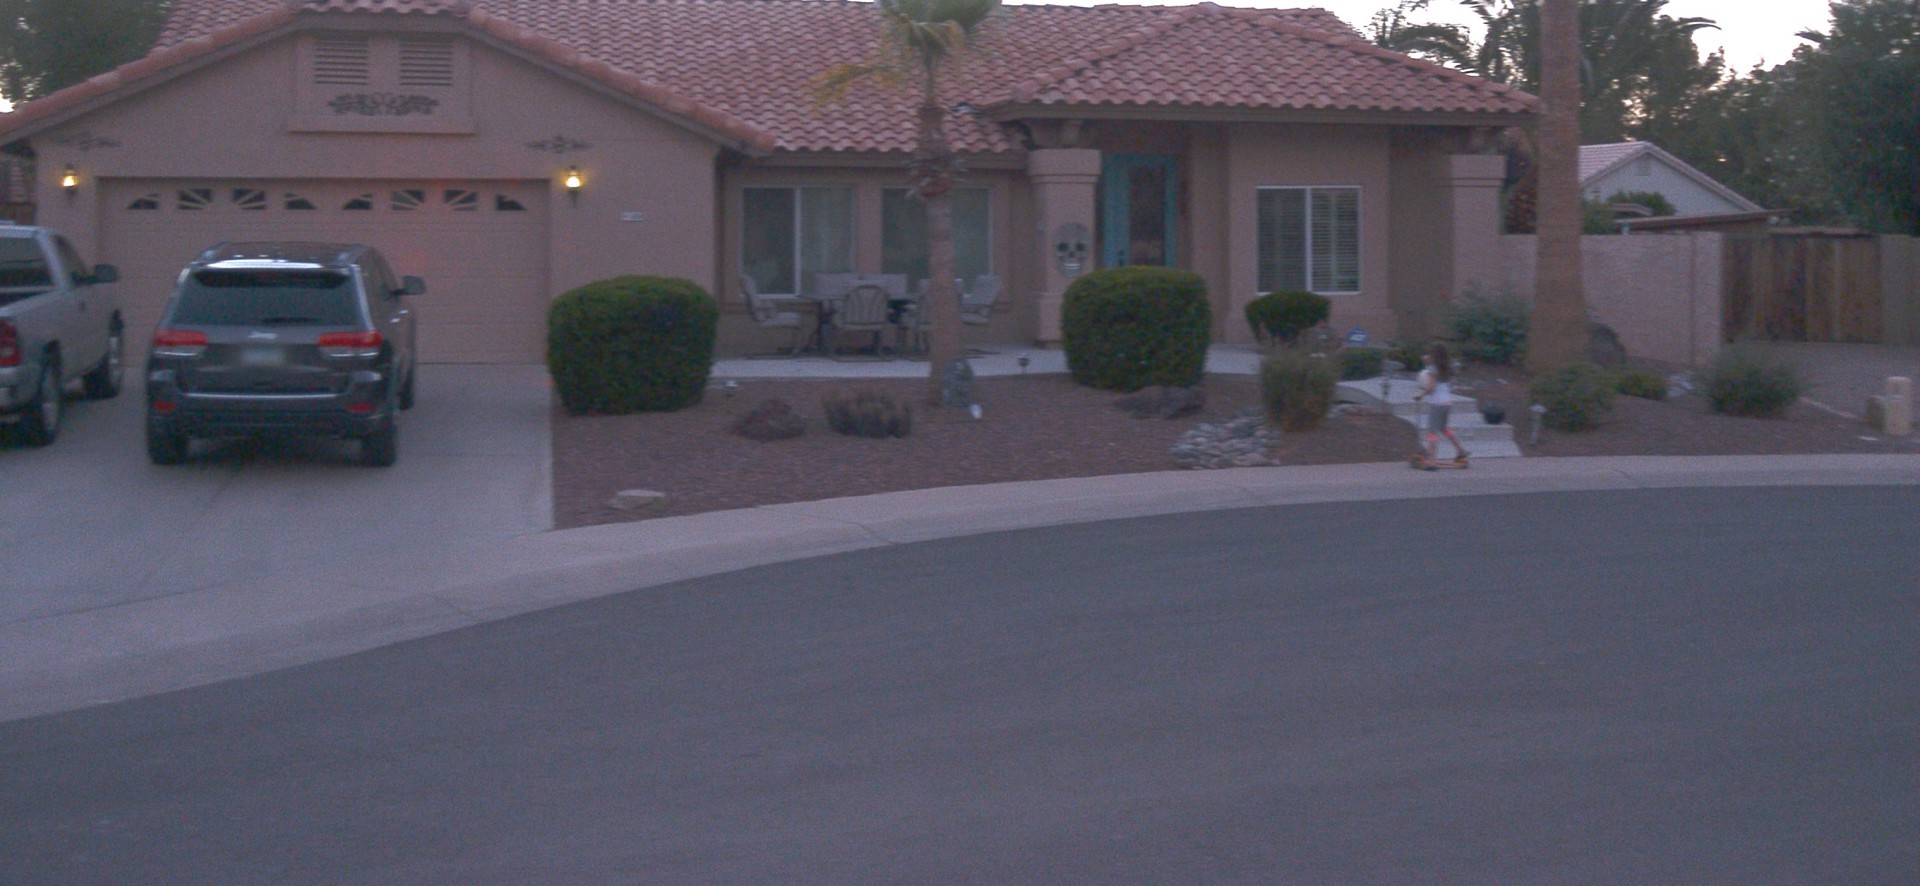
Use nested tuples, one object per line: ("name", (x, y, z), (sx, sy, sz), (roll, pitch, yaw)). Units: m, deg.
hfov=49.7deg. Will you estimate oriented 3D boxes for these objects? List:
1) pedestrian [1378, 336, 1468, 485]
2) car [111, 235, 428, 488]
("pedestrian", (4.293, -0.325, 19.278), (0.650, 1.278, 1.093), (0, 3, 3))
("car", (-5.866, -0.870, 18.201), (2.171, 1.852, 4.831), (-1, 5, -13))
